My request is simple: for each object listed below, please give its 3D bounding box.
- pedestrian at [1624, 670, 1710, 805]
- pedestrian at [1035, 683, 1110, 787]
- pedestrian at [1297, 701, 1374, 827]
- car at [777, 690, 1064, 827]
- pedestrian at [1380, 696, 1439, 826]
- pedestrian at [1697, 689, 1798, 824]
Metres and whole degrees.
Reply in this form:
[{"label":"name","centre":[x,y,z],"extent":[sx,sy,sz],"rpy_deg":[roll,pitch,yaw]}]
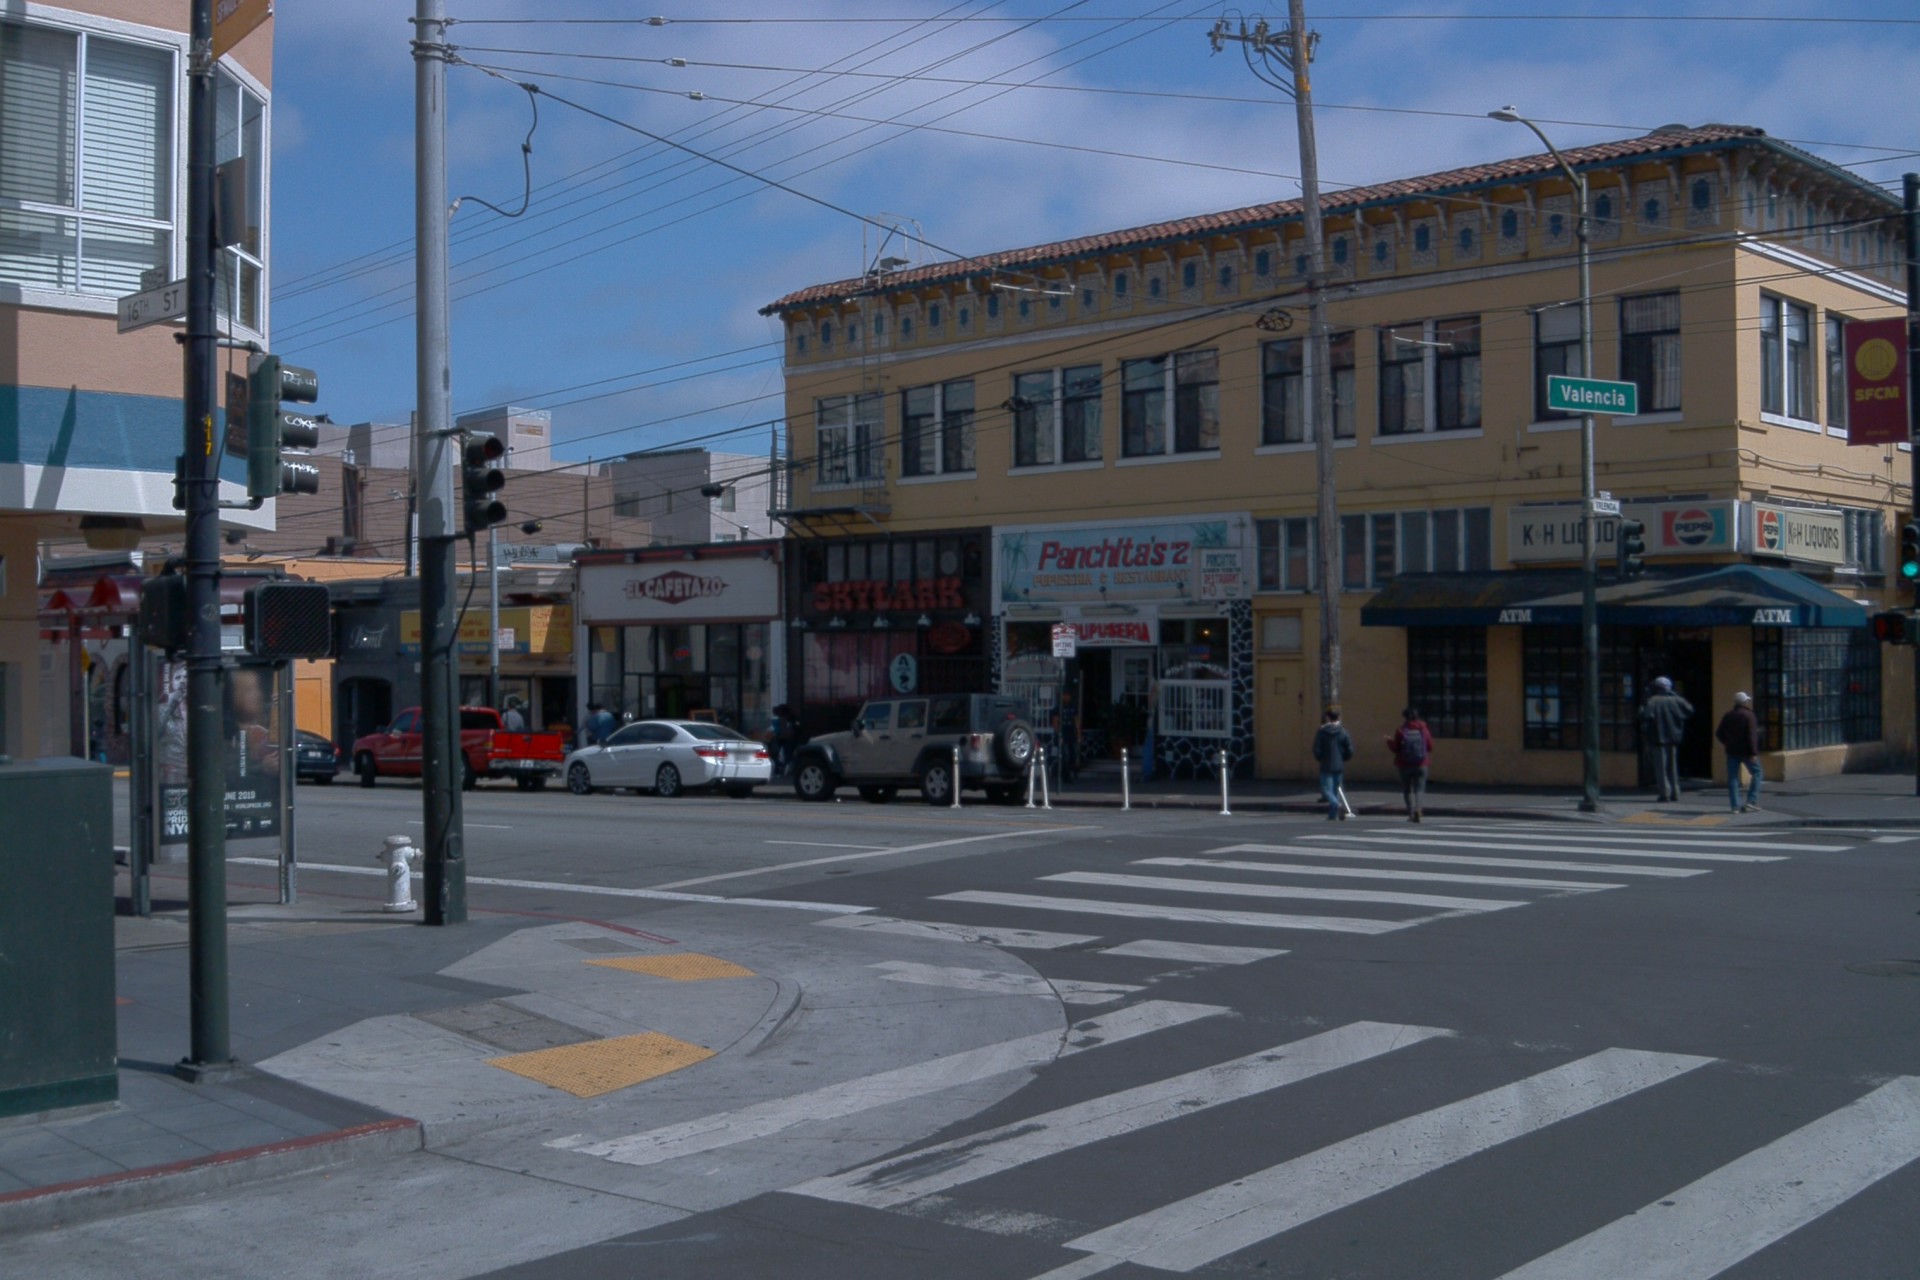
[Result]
[{"label":"pedestrian","centre":[9.970,1.359,29.119],"extent":[0.905,1.850,0.713],"rpy_deg":[0,1,-14]},{"label":"pedestrian","centre":[2.058,1.723,37.873],"extent":[1.008,1.830,0.939],"rpy_deg":[1,1,40]},{"label":"pedestrian","centre":[5.045,1.661,27.779],"extent":[0.883,1.630,0.913],"rpy_deg":[0,1,1]},{"label":"car","centre":[-0.723,1.907,34.562],"extent":[4.715,1.960,2.025],"rpy_deg":[1,1,43]},{"label":"pedestrian","centre":[5.962,1.591,27.411],"extent":[0.747,1.650,0.861],"rpy_deg":[0,1,11]},{"label":"pedestrian","centre":[10.592,1.545,27.750],"extent":[1.084,1.730,0.796],"rpy_deg":[-1,1,-36]}]
